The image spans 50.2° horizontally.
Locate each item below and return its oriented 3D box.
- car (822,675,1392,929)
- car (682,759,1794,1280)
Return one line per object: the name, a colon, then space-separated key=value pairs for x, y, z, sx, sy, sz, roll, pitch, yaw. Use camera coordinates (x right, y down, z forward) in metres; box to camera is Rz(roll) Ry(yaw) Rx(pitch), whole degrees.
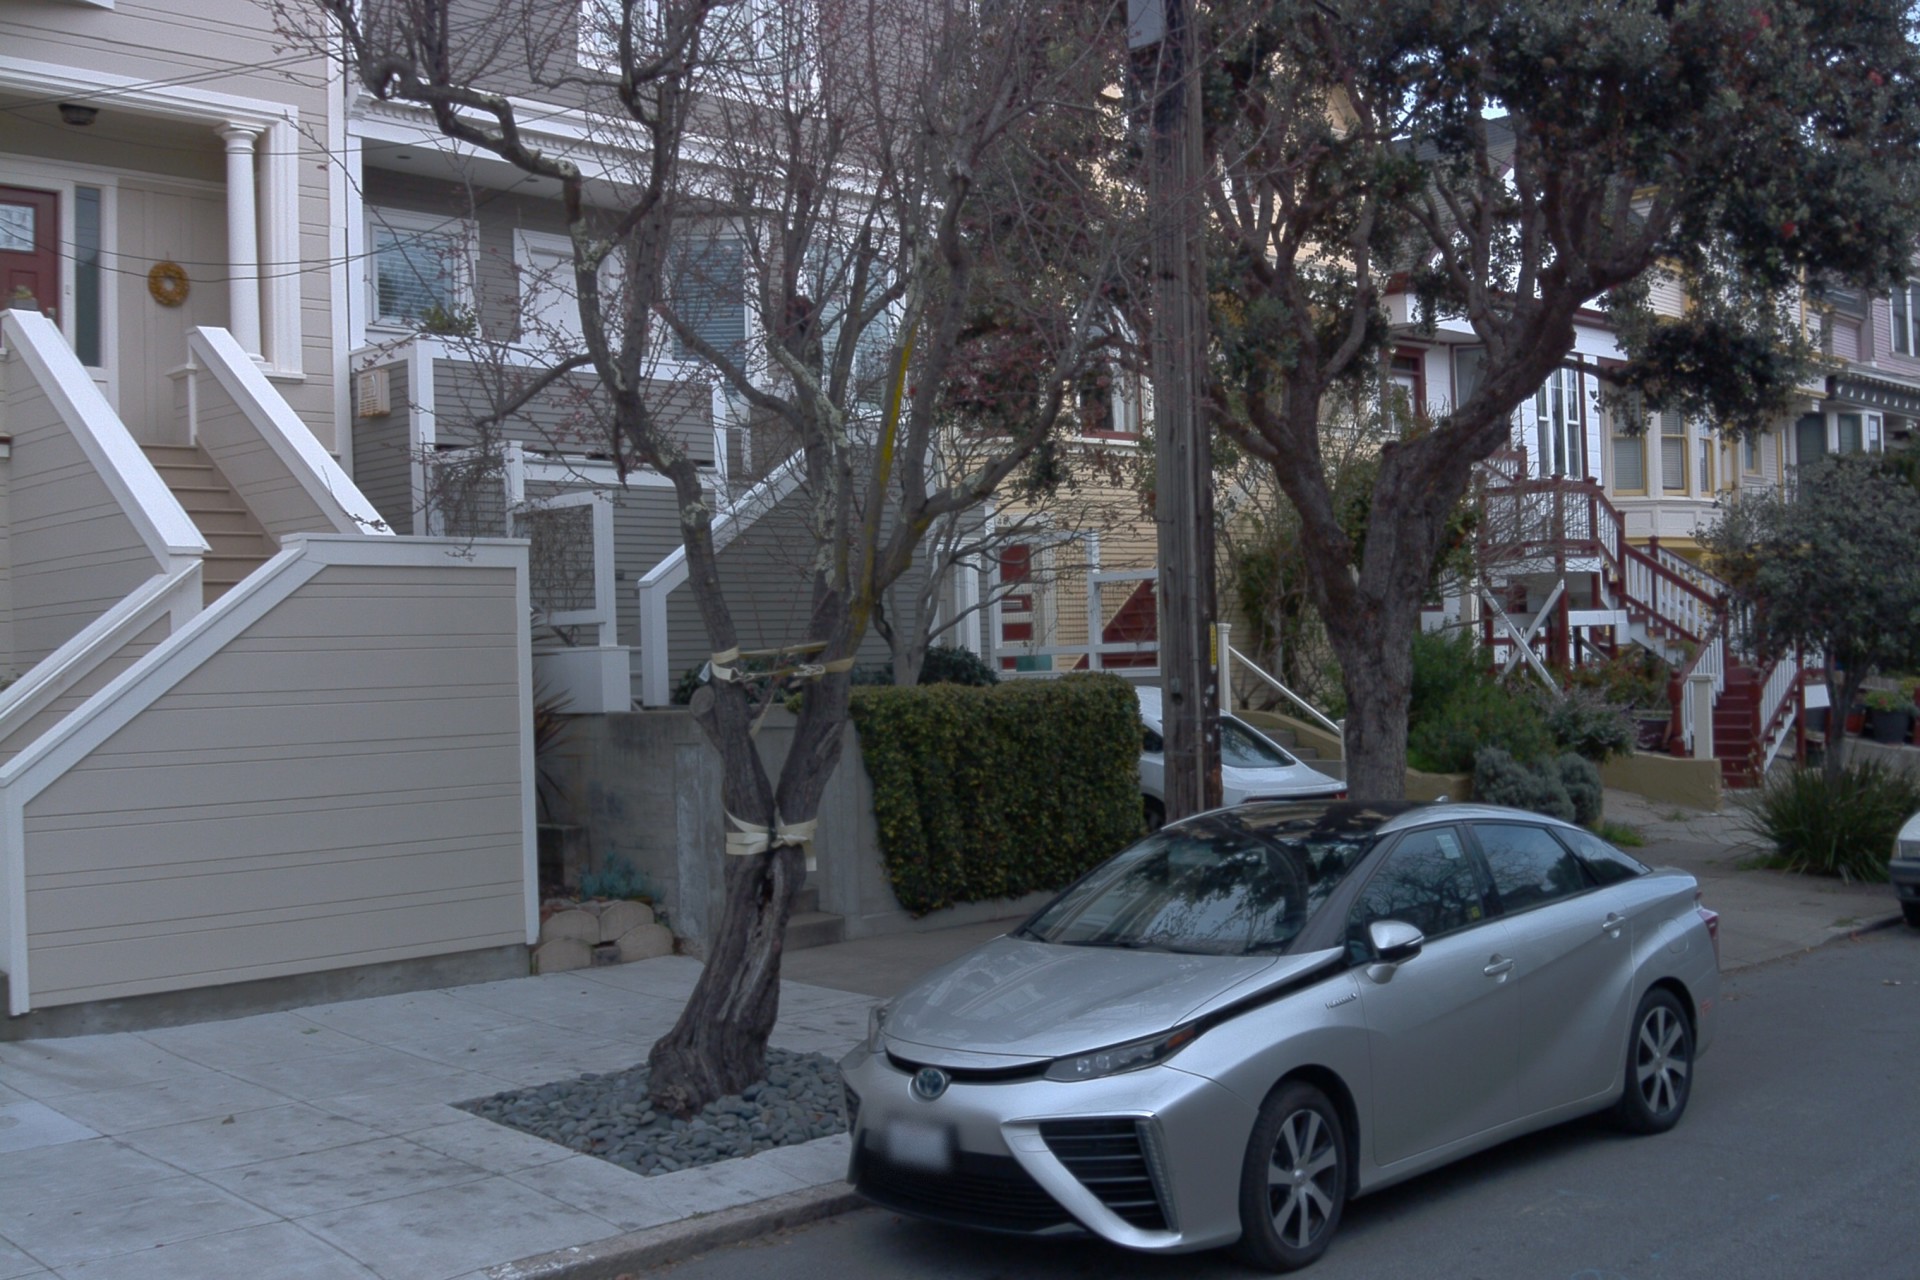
car: x=1.208 y=1.327 z=18.773 sx=4.999 sy=1.857 sz=2.131 roll=1 pitch=1 yaw=44
car: x=1.438 y=1.453 z=8.590 sx=2.058 sy=1.582 sz=4.913 roll=1 pitch=1 yaw=45
